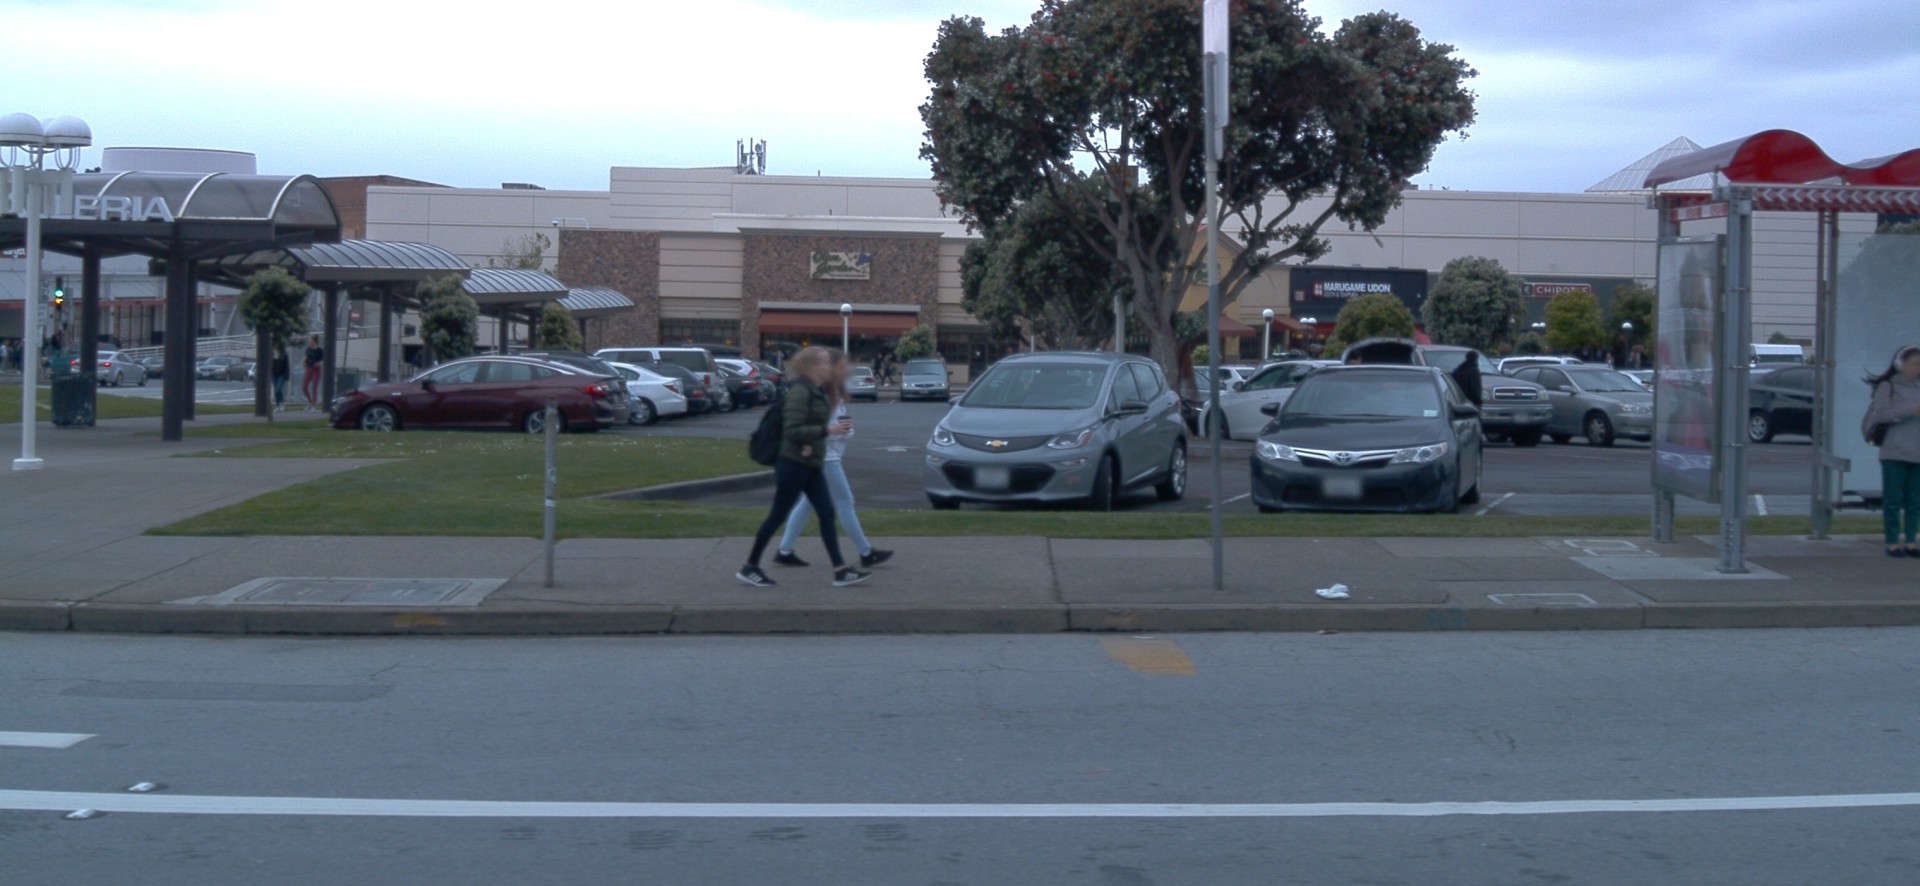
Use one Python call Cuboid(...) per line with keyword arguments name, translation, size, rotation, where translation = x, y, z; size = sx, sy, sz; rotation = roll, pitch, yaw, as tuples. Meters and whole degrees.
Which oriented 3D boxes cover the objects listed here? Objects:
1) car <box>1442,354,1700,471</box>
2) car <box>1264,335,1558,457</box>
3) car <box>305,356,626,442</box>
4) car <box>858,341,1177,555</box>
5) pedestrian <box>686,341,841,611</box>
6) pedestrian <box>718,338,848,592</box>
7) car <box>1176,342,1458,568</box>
Cuboid(name="car", translation=(10.992, -0.622, 37.285), size=(2.001, 1.694, 4.418), rotation=(-2, 5, -27))
Cuboid(name="car", translation=(8.100, -0.947, 37.568), size=(2.362, 1.763, 5.529), rotation=(-2, 5, -26))
Cuboid(name="car", translation=(-8.417, -0.778, 35.280), size=(4.921, 1.296, 2.232), rotation=(0, 4, 2))
Cuboid(name="car", translation=(0.709, -0.071, 20.798), size=(2.020, 1.694, 4.190), rotation=(1, 5, 20))
Cuboid(name="pedestrian", translation=(-1.307, 0.194, 13.775), size=(0.882, 1.719, 0.634), rotation=(0, 1, 12))
Cuboid(name="pedestrian", translation=(-1.235, 0.132, 14.449), size=(0.822, 1.699, 0.714), rotation=(0, 1, 2))
Cuboid(name="car", translation=(3.690, -0.027, 20.439), size=(2.191, 1.693, 4.819), rotation=(1, 5, 17))
